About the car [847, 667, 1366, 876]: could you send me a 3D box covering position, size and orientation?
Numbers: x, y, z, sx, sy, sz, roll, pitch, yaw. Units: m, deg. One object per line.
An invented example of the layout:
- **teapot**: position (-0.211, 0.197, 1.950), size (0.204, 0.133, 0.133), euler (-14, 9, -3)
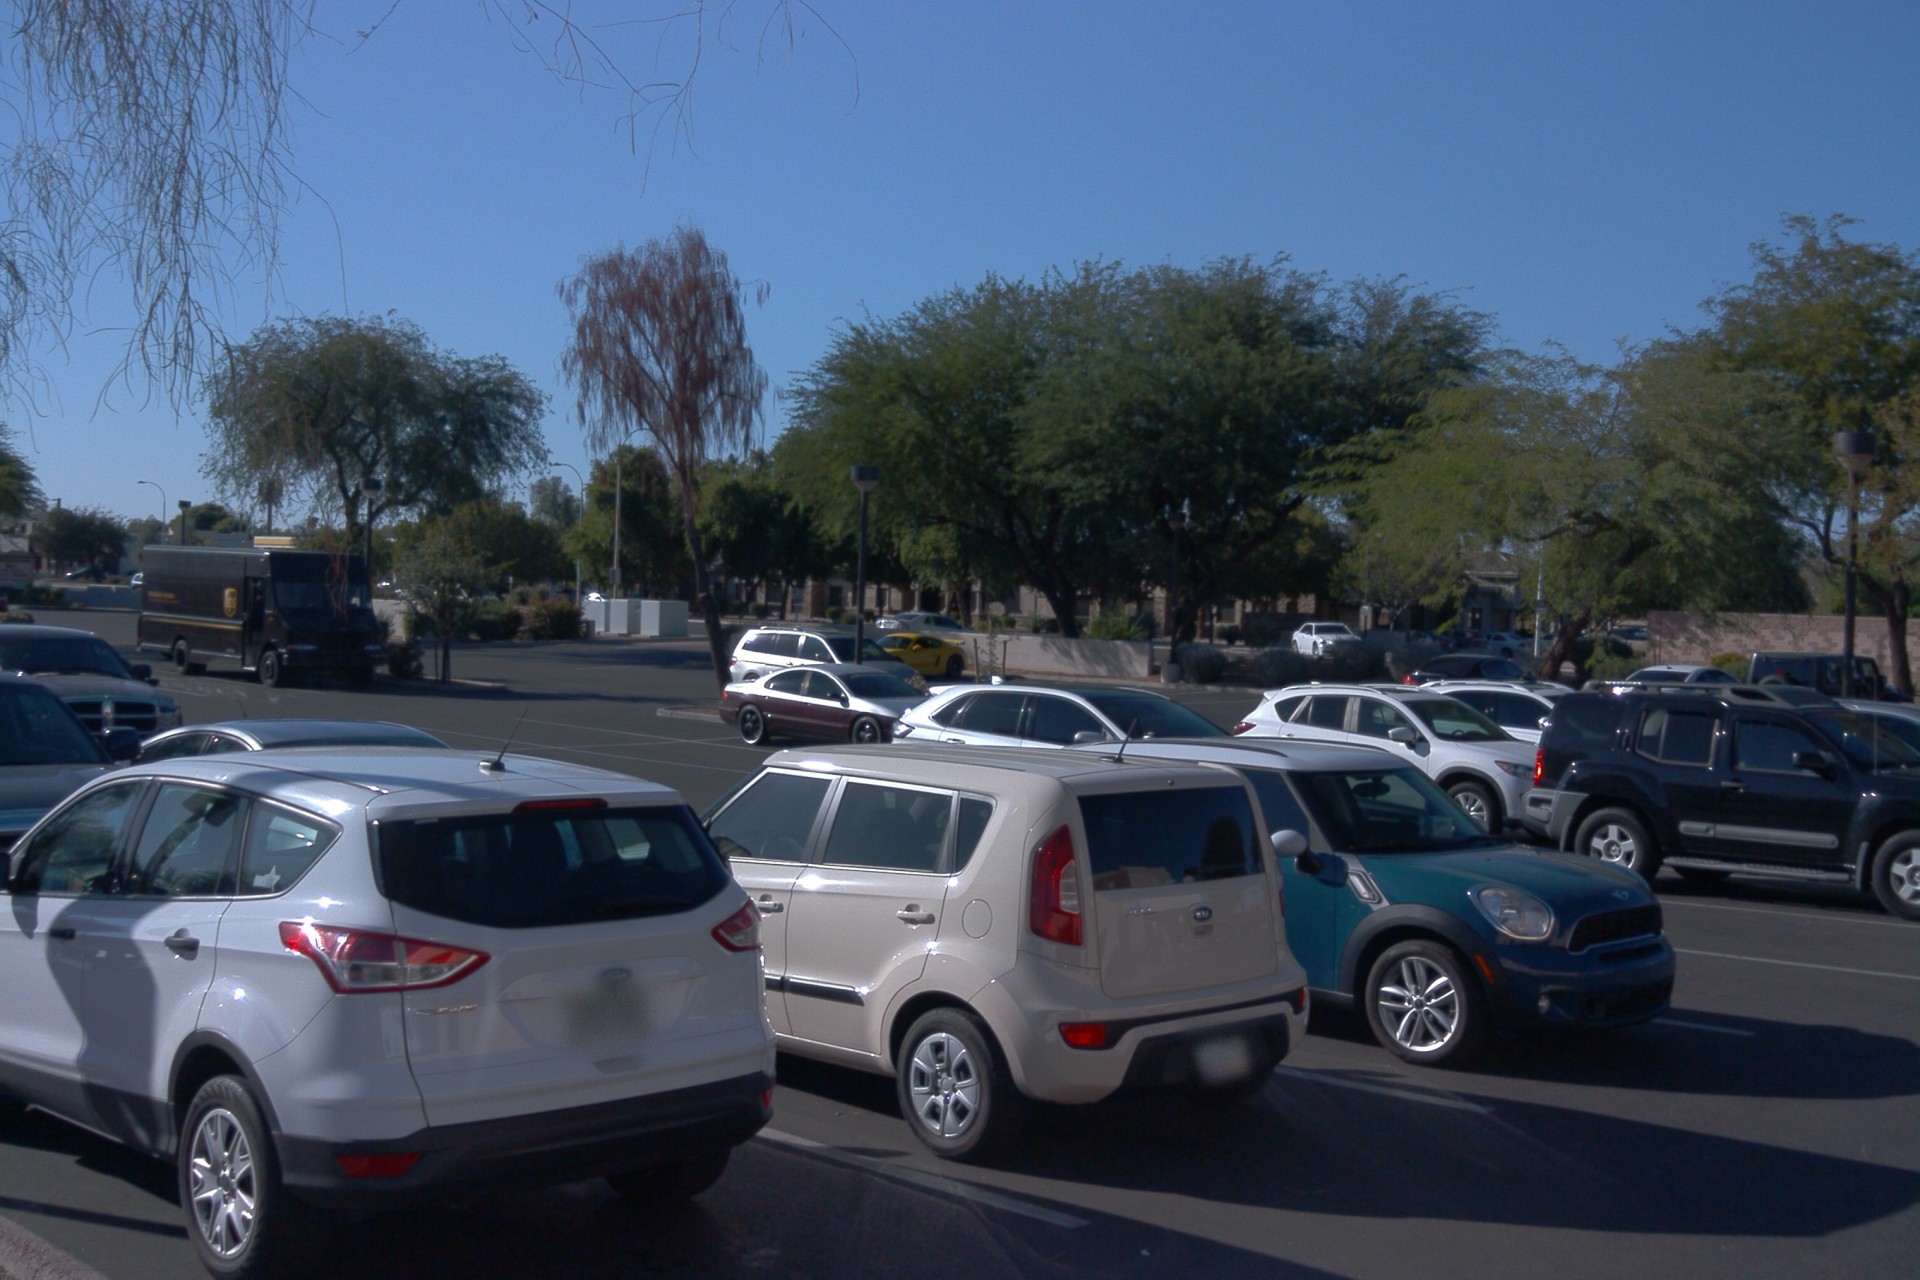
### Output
- **car**: position (1.336, 1.165, 20.262), size (4.659, 1.720, 2.253), euler (1, 0, 43)

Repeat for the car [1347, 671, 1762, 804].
- **car**: position (7.495, 1.166, 26.495), size (4.663, 1.460, 2.057), euler (1, 0, 45)

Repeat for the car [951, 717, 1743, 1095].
- **car**: position (2.068, 1.321, 11.813), size (2.003, 1.600, 3.979), euler (1, 0, -45)

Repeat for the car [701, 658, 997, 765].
- **car**: position (-1.944, 1.141, 35.005), size (5.046, 1.600, 2.114), euler (1, 0, 44)

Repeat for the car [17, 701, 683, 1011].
- **car**: position (-4.207, 1.263, 13.851), size (4.717, 1.550, 2.178), euler (1, 0, 44)

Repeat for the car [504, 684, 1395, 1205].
- **car**: position (-0.206, 1.175, 9.847), size (2.035, 1.840, 3.966), euler (1, 0, -44)

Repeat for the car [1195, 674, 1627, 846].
- **car**: position (5.171, 1.300, 24.166), size (4.434, 1.720, 2.160), euler (1, 0, 45)
